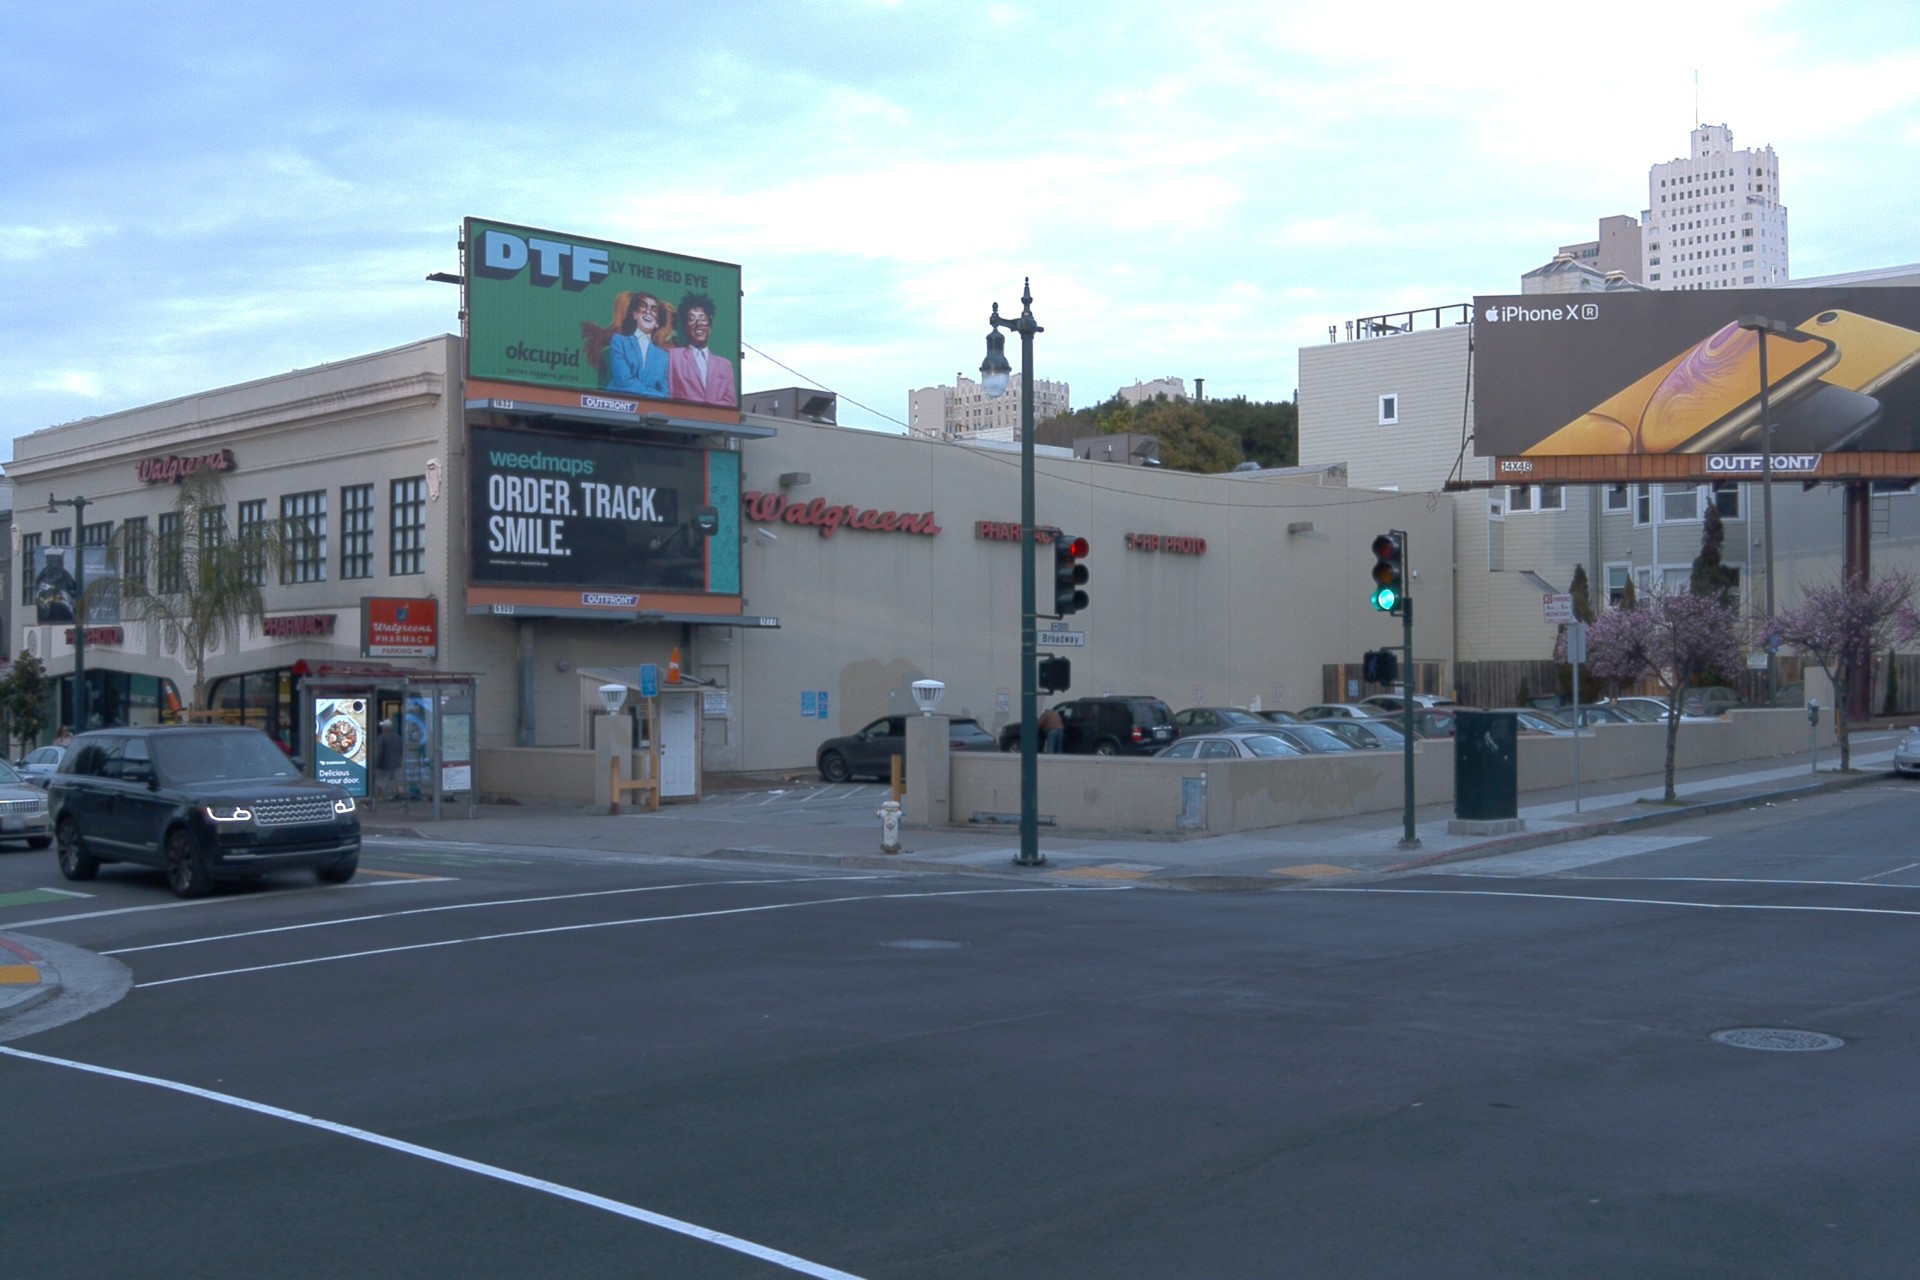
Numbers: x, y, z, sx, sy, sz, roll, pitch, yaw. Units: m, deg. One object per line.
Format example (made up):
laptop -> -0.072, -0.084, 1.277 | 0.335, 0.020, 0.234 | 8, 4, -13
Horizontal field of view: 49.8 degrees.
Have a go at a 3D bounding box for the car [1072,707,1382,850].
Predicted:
car -> 4.319, 2.188, 33.927 | 4.622, 1.949, 2.162 | 2, 1, 44

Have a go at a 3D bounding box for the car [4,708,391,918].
car -> -8.873, 1.858, 23.777 | 2.225, 1.890, 5.170 | 0, 1, -45
